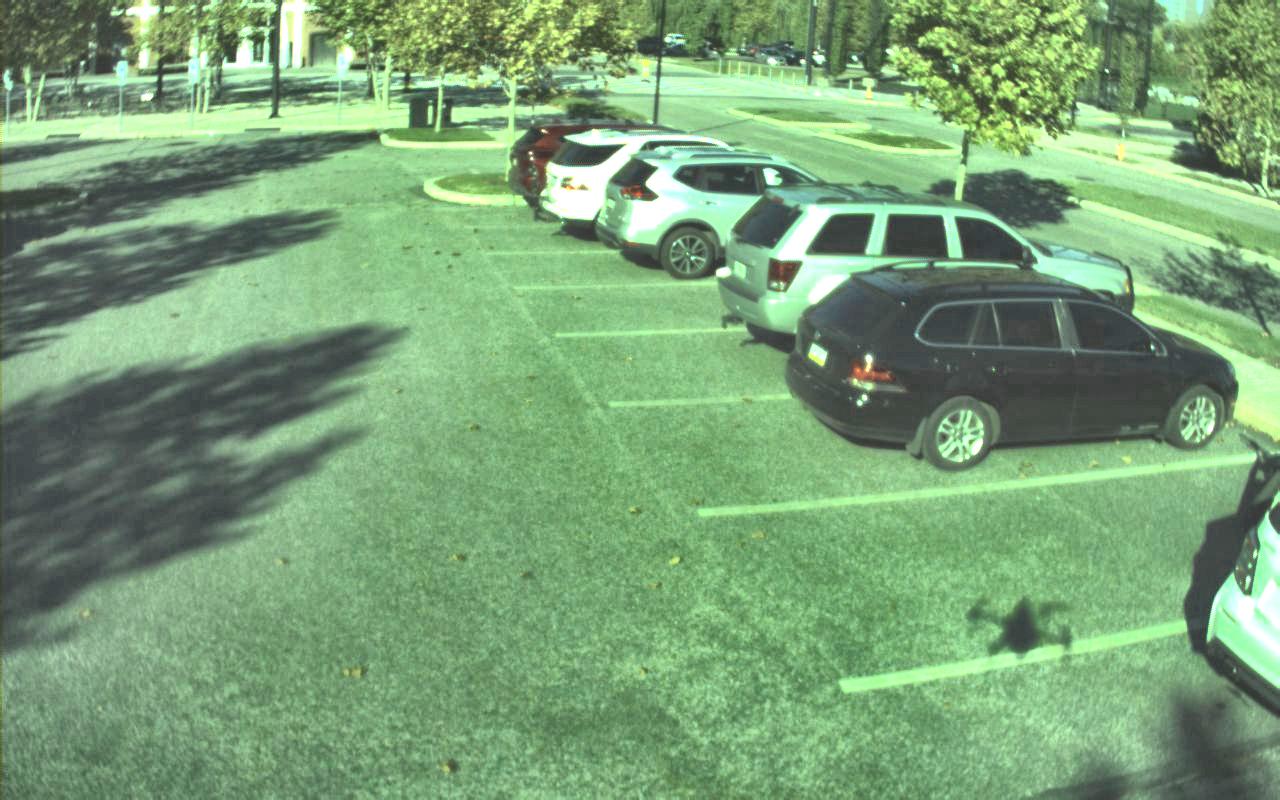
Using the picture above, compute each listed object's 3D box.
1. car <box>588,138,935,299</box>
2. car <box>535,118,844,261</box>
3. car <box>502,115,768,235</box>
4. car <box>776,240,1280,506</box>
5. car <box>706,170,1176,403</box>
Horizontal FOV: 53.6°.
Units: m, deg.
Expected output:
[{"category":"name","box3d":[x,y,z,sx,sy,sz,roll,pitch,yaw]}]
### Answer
[{"category":"car","box3d":[1.732,-2.700,17.943,4.585,1.833,2.001,-6,17,-15]},{"category":"car","box3d":[0.793,-3.495,20.262,4.602,1.857,2.021,-6,17,-17]},{"category":"car","box3d":[-0.118,-4.172,22.849,4.483,1.783,1.988,-6,17,-15]},{"category":"car","box3d":[3.594,-0.400,10.719,4.463,1.552,1.925,-5,17,-14]},{"category":"car","box3d":[3.261,-1.370,13.167,4.751,1.882,2.054,-5,17,-13]}]
